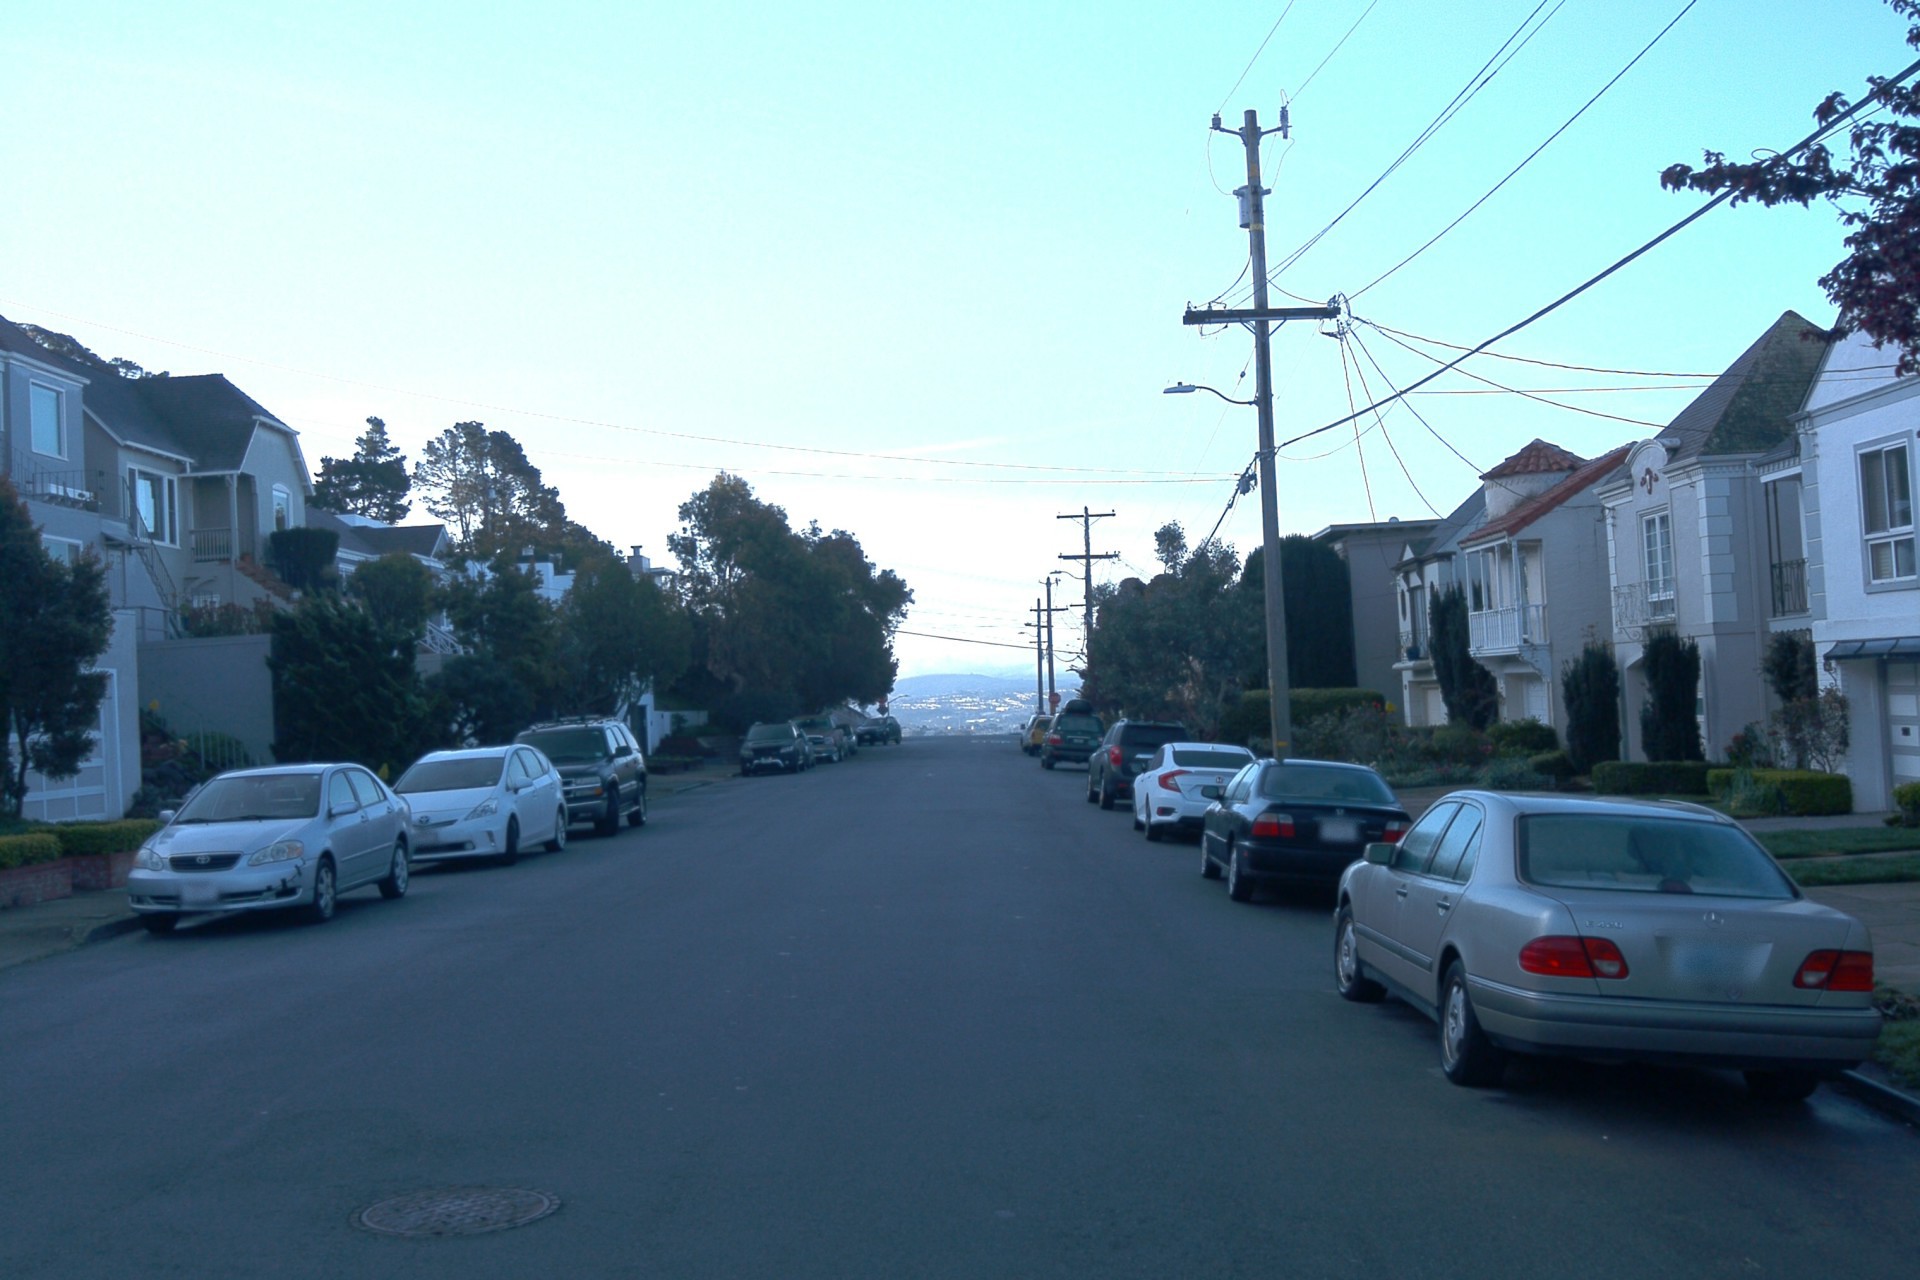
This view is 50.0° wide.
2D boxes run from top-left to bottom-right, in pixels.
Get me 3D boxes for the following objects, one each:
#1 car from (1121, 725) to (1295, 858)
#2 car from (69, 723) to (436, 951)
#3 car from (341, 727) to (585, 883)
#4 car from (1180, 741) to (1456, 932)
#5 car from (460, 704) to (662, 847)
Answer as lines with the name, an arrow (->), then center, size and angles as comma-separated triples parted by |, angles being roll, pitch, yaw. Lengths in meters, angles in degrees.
car -> 3.580, 2.167, 30.563 | 2.038, 1.610, 4.834 | 0, 0, 0
car -> -6.678, 1.791, 20.059 | 1.984, 1.780, 4.622 | 0, 0, 0
car -> -6.524, 2.121, 27.620 | 2.015, 1.720, 4.697 | 0, 0, 1
car -> 3.512, 1.903, 21.126 | 2.043, 1.510, 4.723 | 0, 0, 0
car -> -6.465, 2.147, 33.997 | 2.366, 2.040, 5.058 | 0, 0, 0
